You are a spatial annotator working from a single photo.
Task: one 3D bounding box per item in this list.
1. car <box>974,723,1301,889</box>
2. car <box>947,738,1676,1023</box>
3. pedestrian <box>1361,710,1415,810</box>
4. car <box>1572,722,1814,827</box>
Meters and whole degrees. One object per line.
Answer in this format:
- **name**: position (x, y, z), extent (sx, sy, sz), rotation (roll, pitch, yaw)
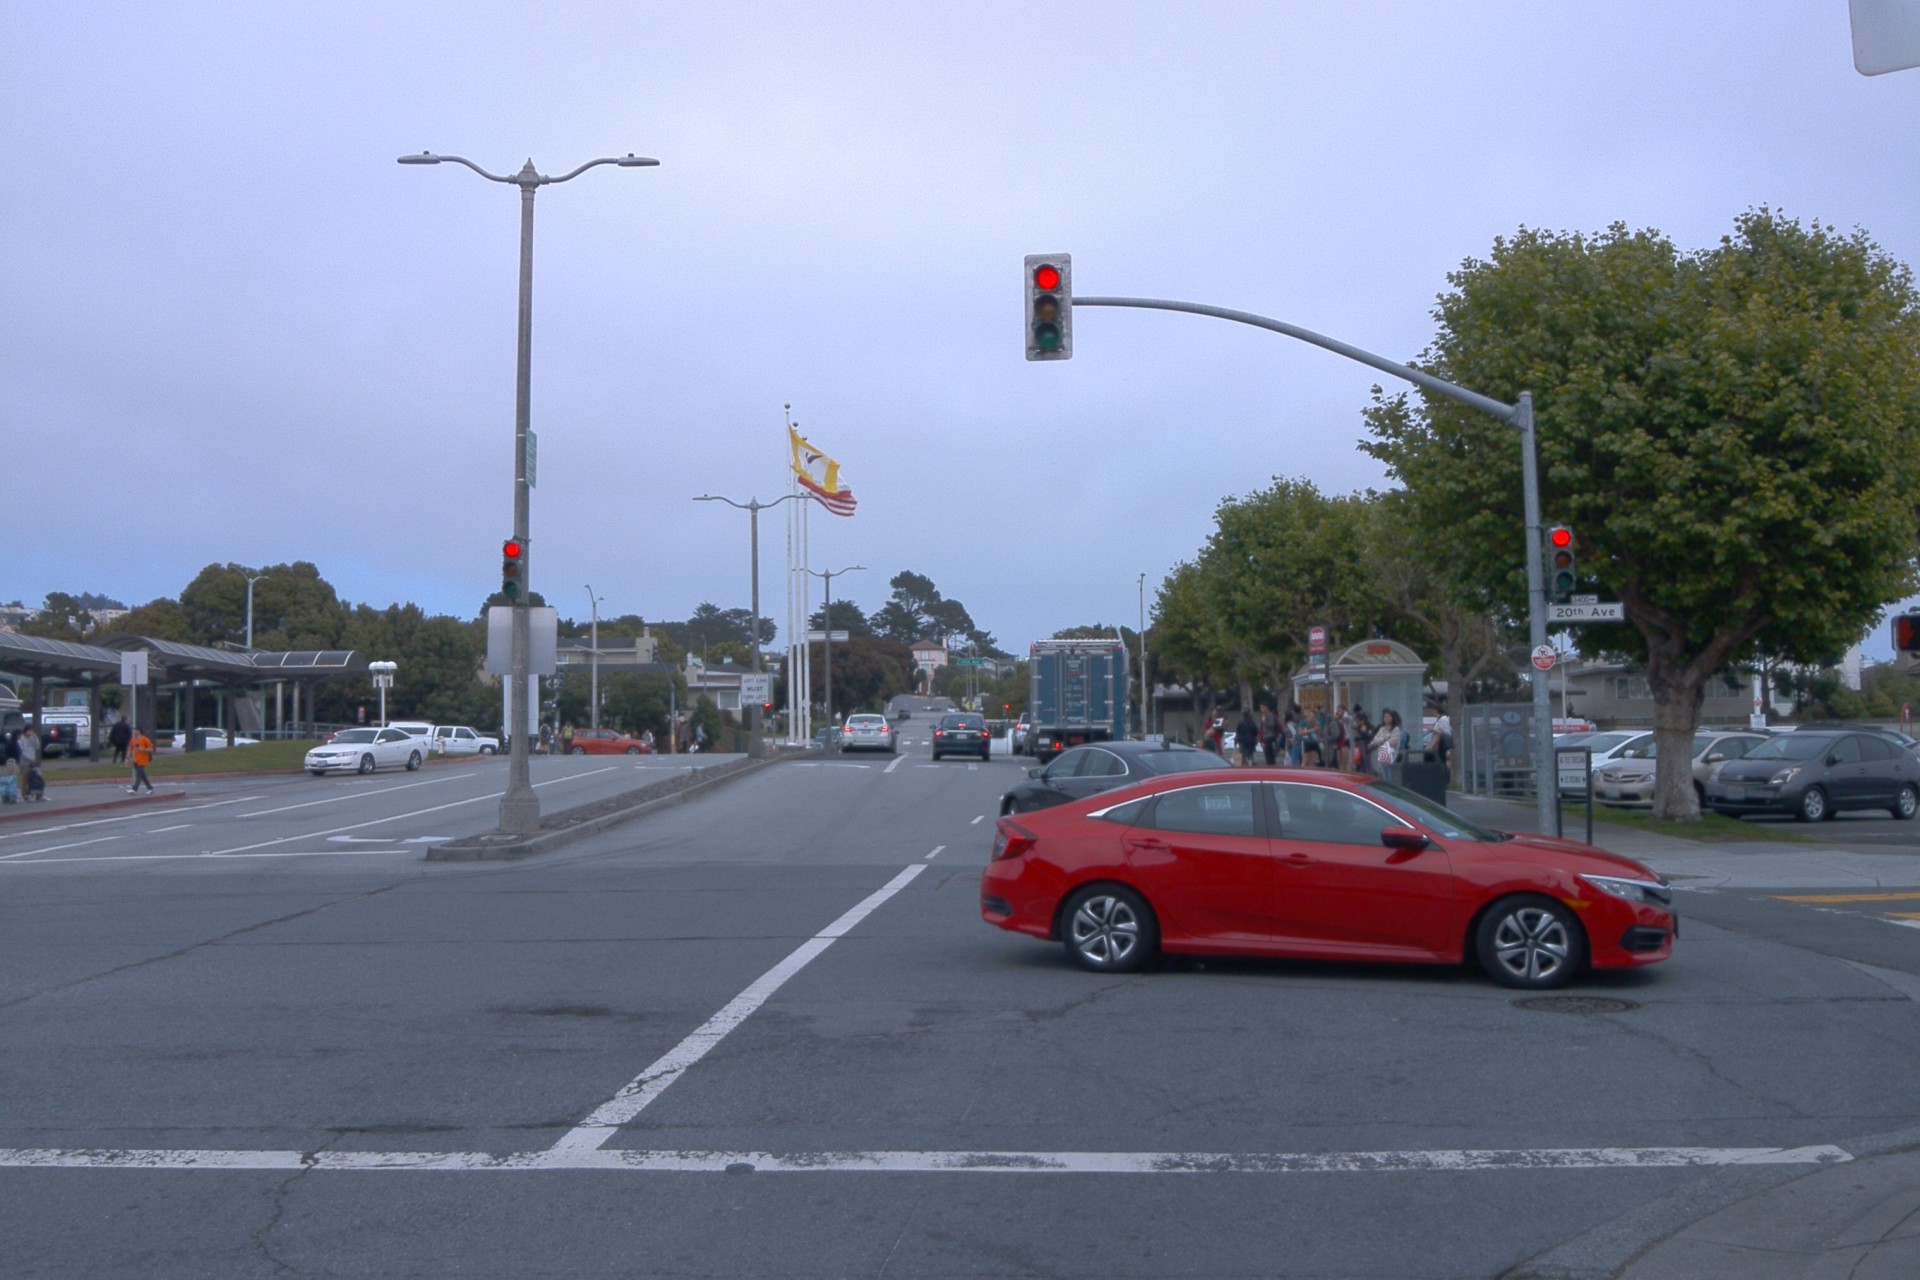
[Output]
- **car**: position (2.055, 1.954, 25.548), extent (2.083, 1.570, 4.902), rotation (-1, 1, -21)
- **car**: position (2.480, 1.546, 14.286), extent (4.664, 1.526, 2.276), rotation (0, 1, 18)
- **pedestrian**: position (7.493, 2.088, 35.992), extent (0.604, 1.700, 0.727), rotation (-1, 1, -23)
- **car**: position (12.853, 2.306, 36.013), extent (3.959, 1.540, 1.985), rotation (-1, 1, -33)
